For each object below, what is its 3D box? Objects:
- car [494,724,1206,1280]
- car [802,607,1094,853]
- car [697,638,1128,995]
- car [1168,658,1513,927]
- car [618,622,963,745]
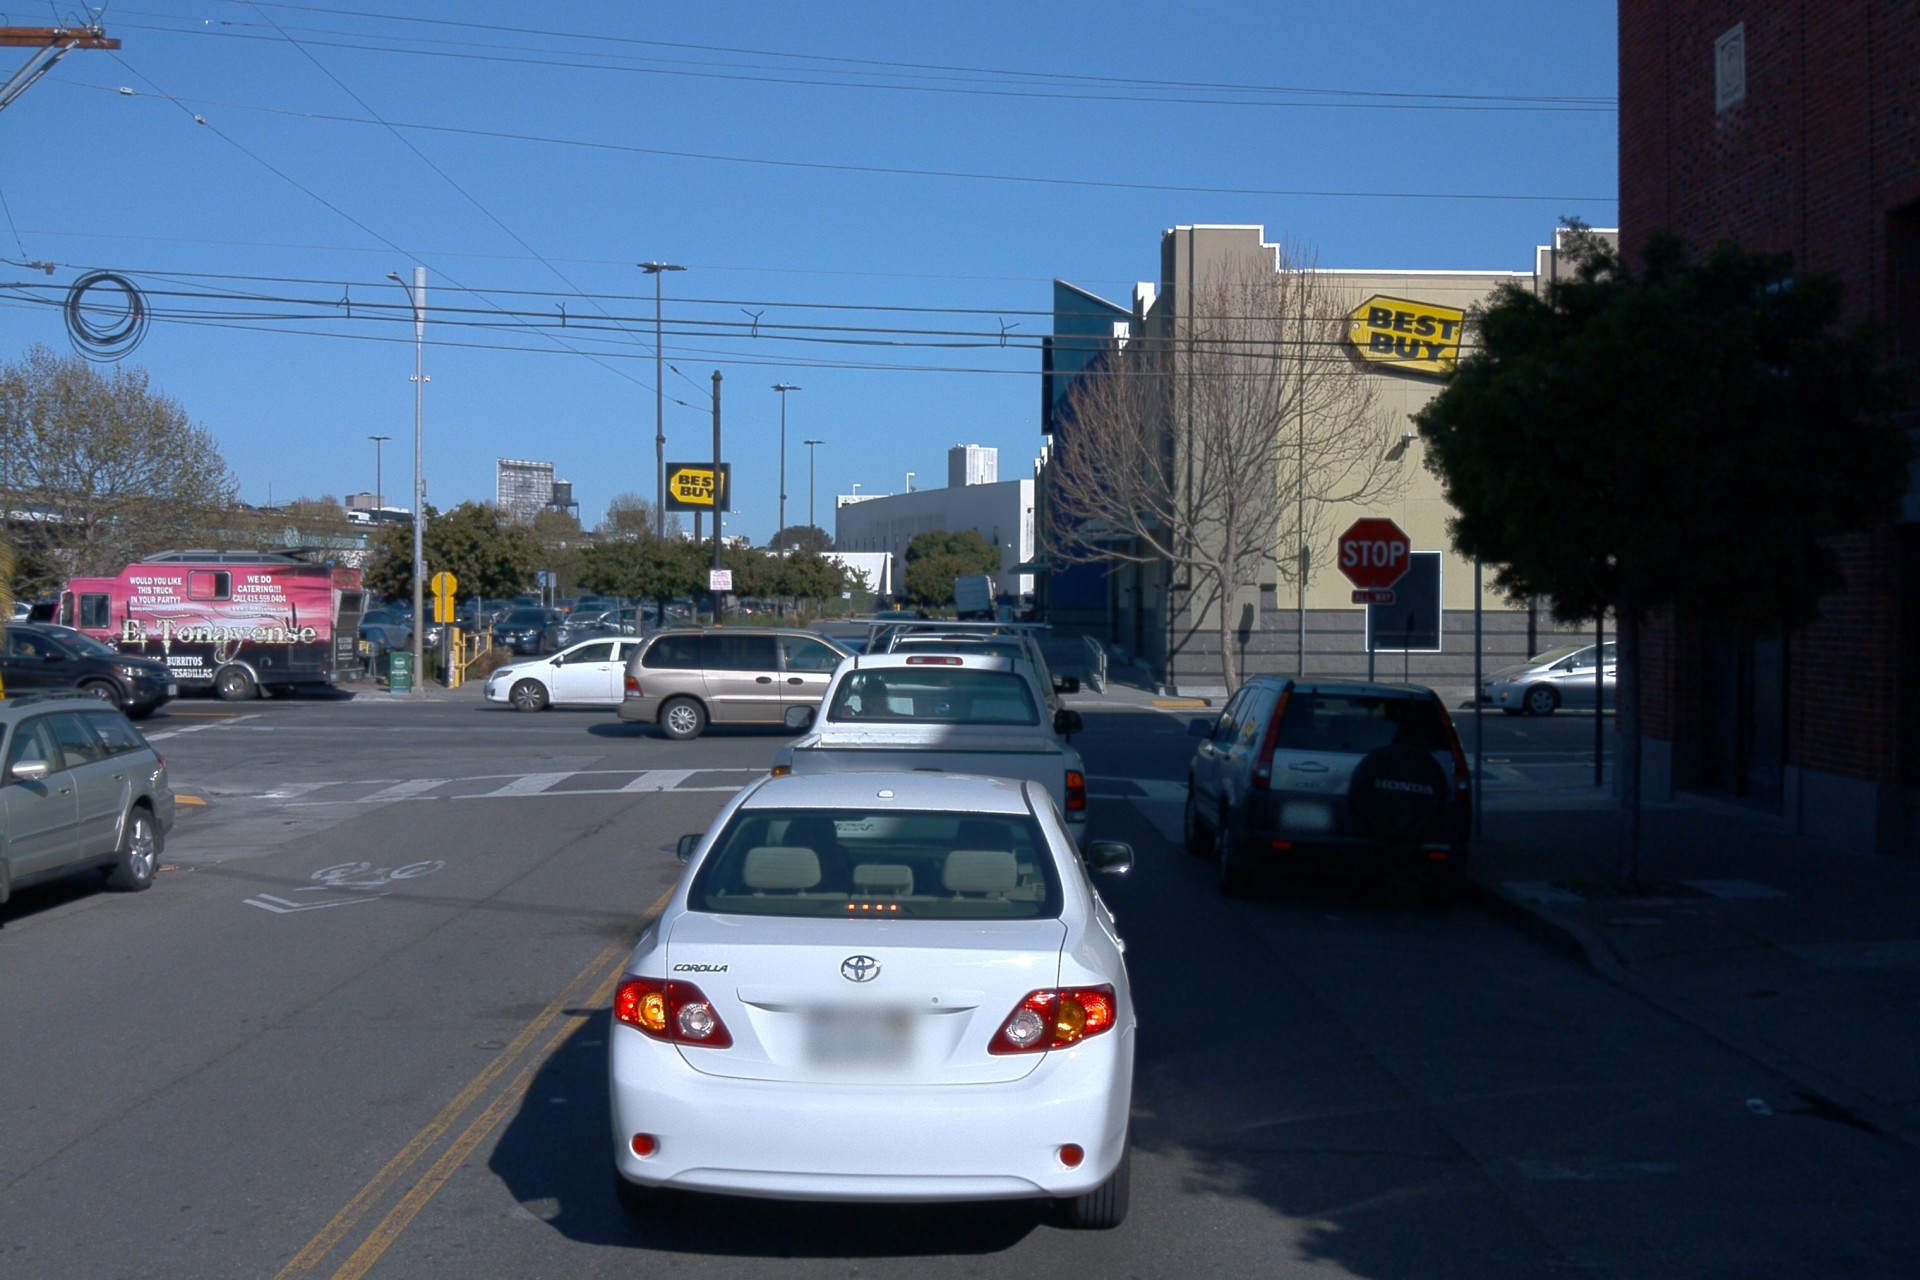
[{"bbox_3d":[-0.276,1.272,8.225,2.045,1.580,4.504,1,1,1],"label":"car"},{"bbox_3d":[0.064,0.753,21.110,2.387,2.140,5.556,1,1,6],"label":"car"},{"bbox_3d":[-0.245,0.988,14.325,2.386,1.880,5.557,1,1,0],"label":"car"},{"bbox_3d":[2.863,1.078,16.444,2.017,1.730,4.285,1,1,1],"label":"car"},{"bbox_3d":[-2.636,0.655,32.091,5.166,1.770,2.031,1,1,-6],"label":"car"}]
